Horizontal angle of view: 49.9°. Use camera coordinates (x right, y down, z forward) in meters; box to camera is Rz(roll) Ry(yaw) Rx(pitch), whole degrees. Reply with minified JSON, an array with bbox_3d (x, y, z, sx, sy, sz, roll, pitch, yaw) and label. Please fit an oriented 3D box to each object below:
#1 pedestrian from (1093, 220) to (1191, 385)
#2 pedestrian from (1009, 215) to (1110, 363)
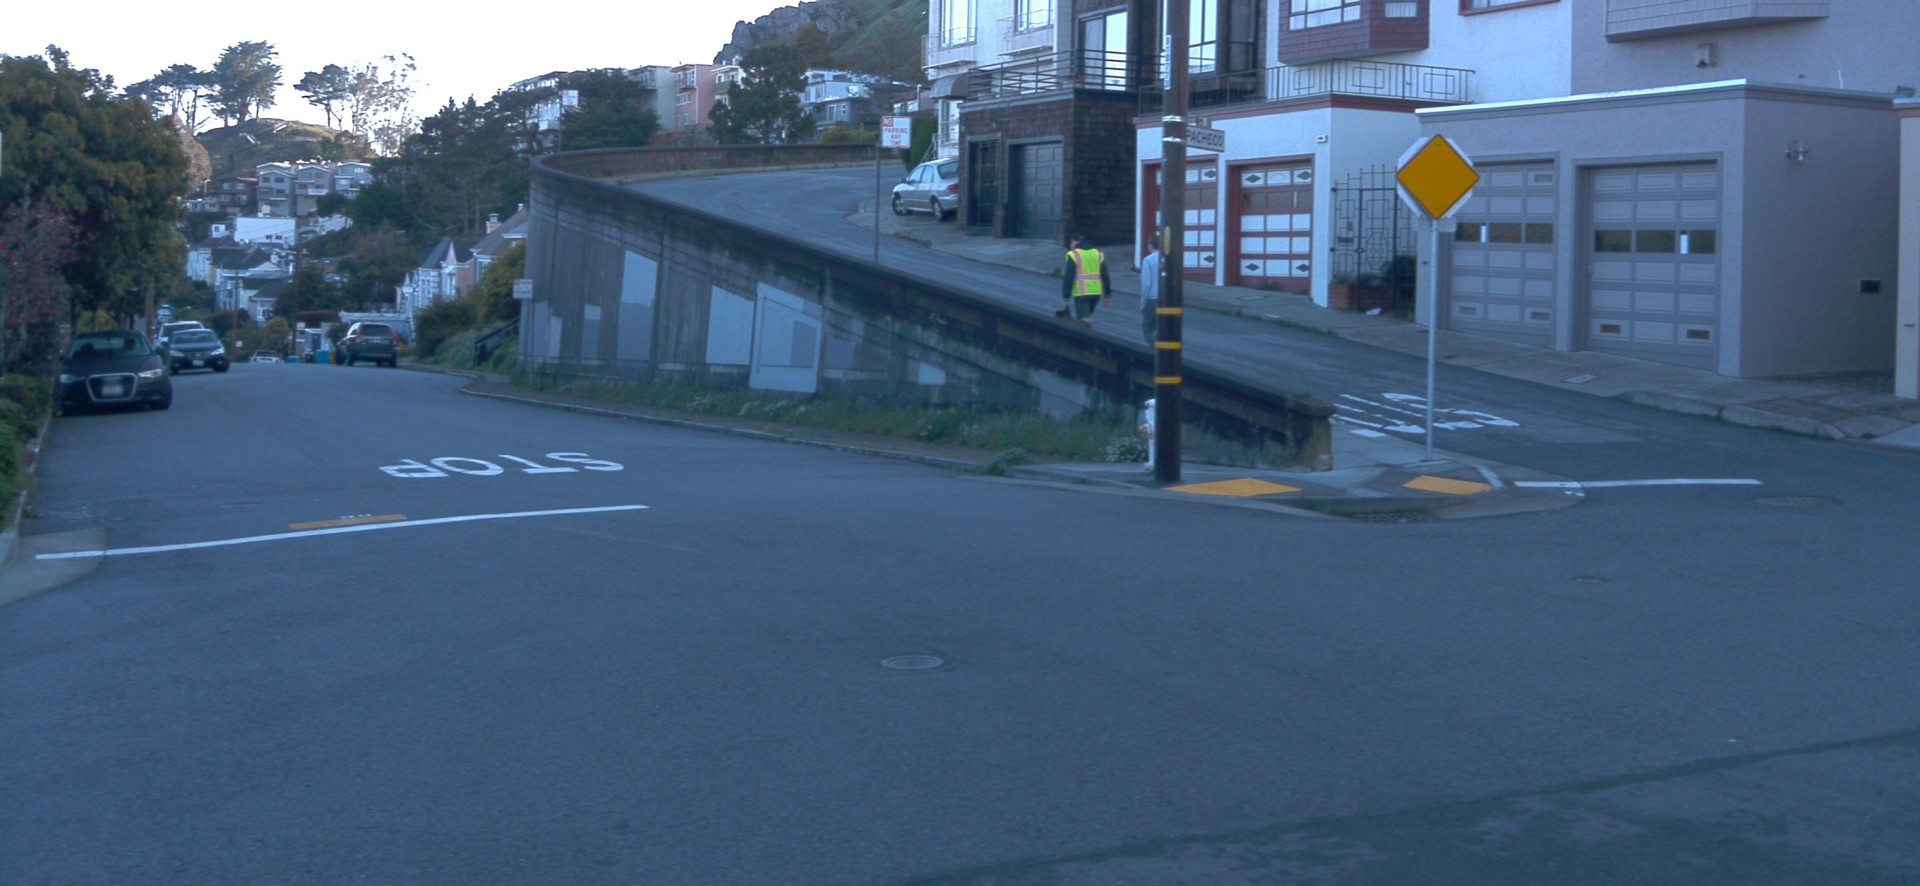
[{"bbox_3d":[2.257,-1.771,25.626,0.845,1.976,1.039,-1,3,-21],"label":"pedestrian"},{"bbox_3d":[1.216,-1.910,25.321,0.971,1.766,0.809,-1,3,-26],"label":"pedestrian"}]
